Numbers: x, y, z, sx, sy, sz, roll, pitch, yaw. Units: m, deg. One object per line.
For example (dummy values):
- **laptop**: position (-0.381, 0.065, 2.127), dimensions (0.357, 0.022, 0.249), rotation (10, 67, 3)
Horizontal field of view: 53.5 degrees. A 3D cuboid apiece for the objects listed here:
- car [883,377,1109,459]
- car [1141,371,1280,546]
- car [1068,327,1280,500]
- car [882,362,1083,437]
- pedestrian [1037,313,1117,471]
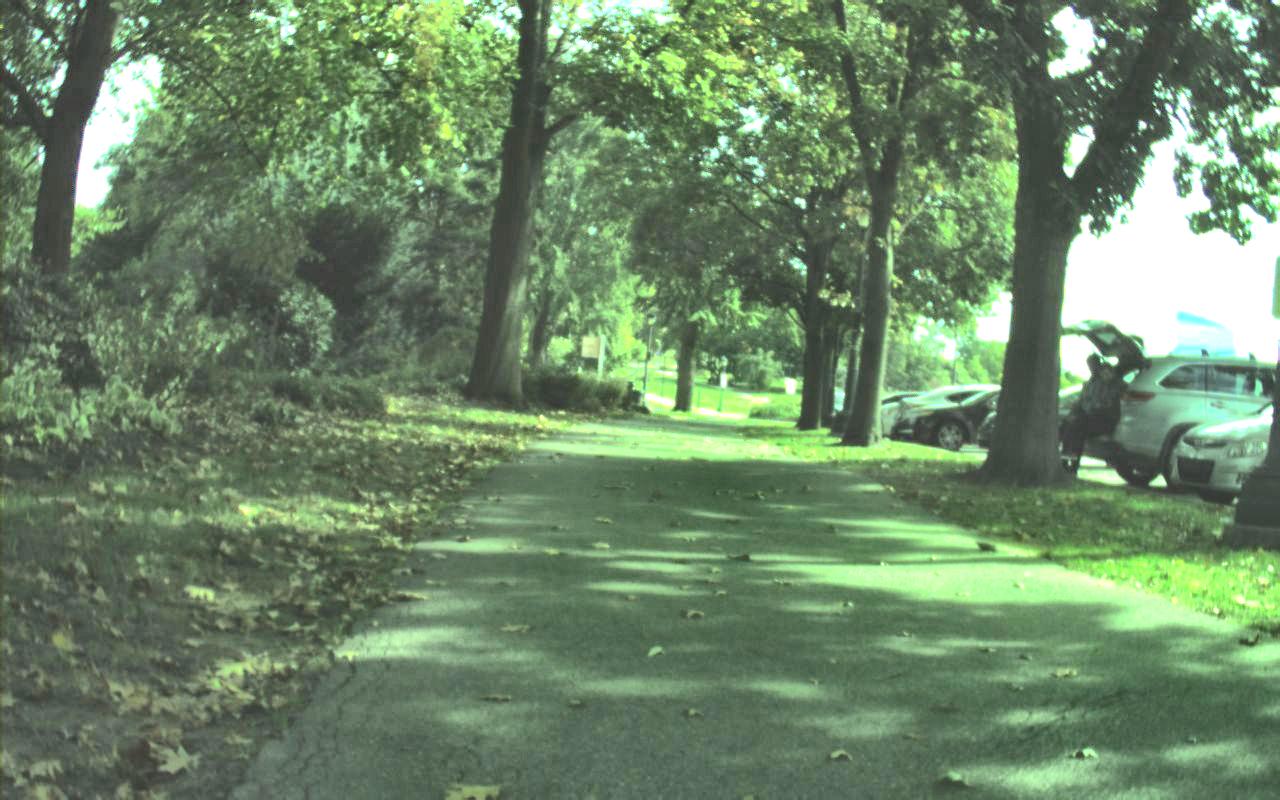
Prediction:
- **car**: position (7.376, 0.361, 25.548), dimensions (4.452, 1.616, 1.979), rotation (0, 1, 0)
- **car**: position (7.558, 0.548, 11.665), dimensions (4.450, 1.593, 1.967), rotation (0, 1, -8)
- **car**: position (7.638, 0.174, 14.337), dimensions (4.513, 1.967, 2.040), rotation (1, 1, 8)
- **car**: position (7.953, -0.005, 28.713), dimensions (4.407, 1.680, 1.962), rotation (0, 1, -1)
- **pedestrian**: position (5.343, -0.083, 14.828), dimensions (0.961, 1.880, 0.897), rotation (1, 0, 17)
